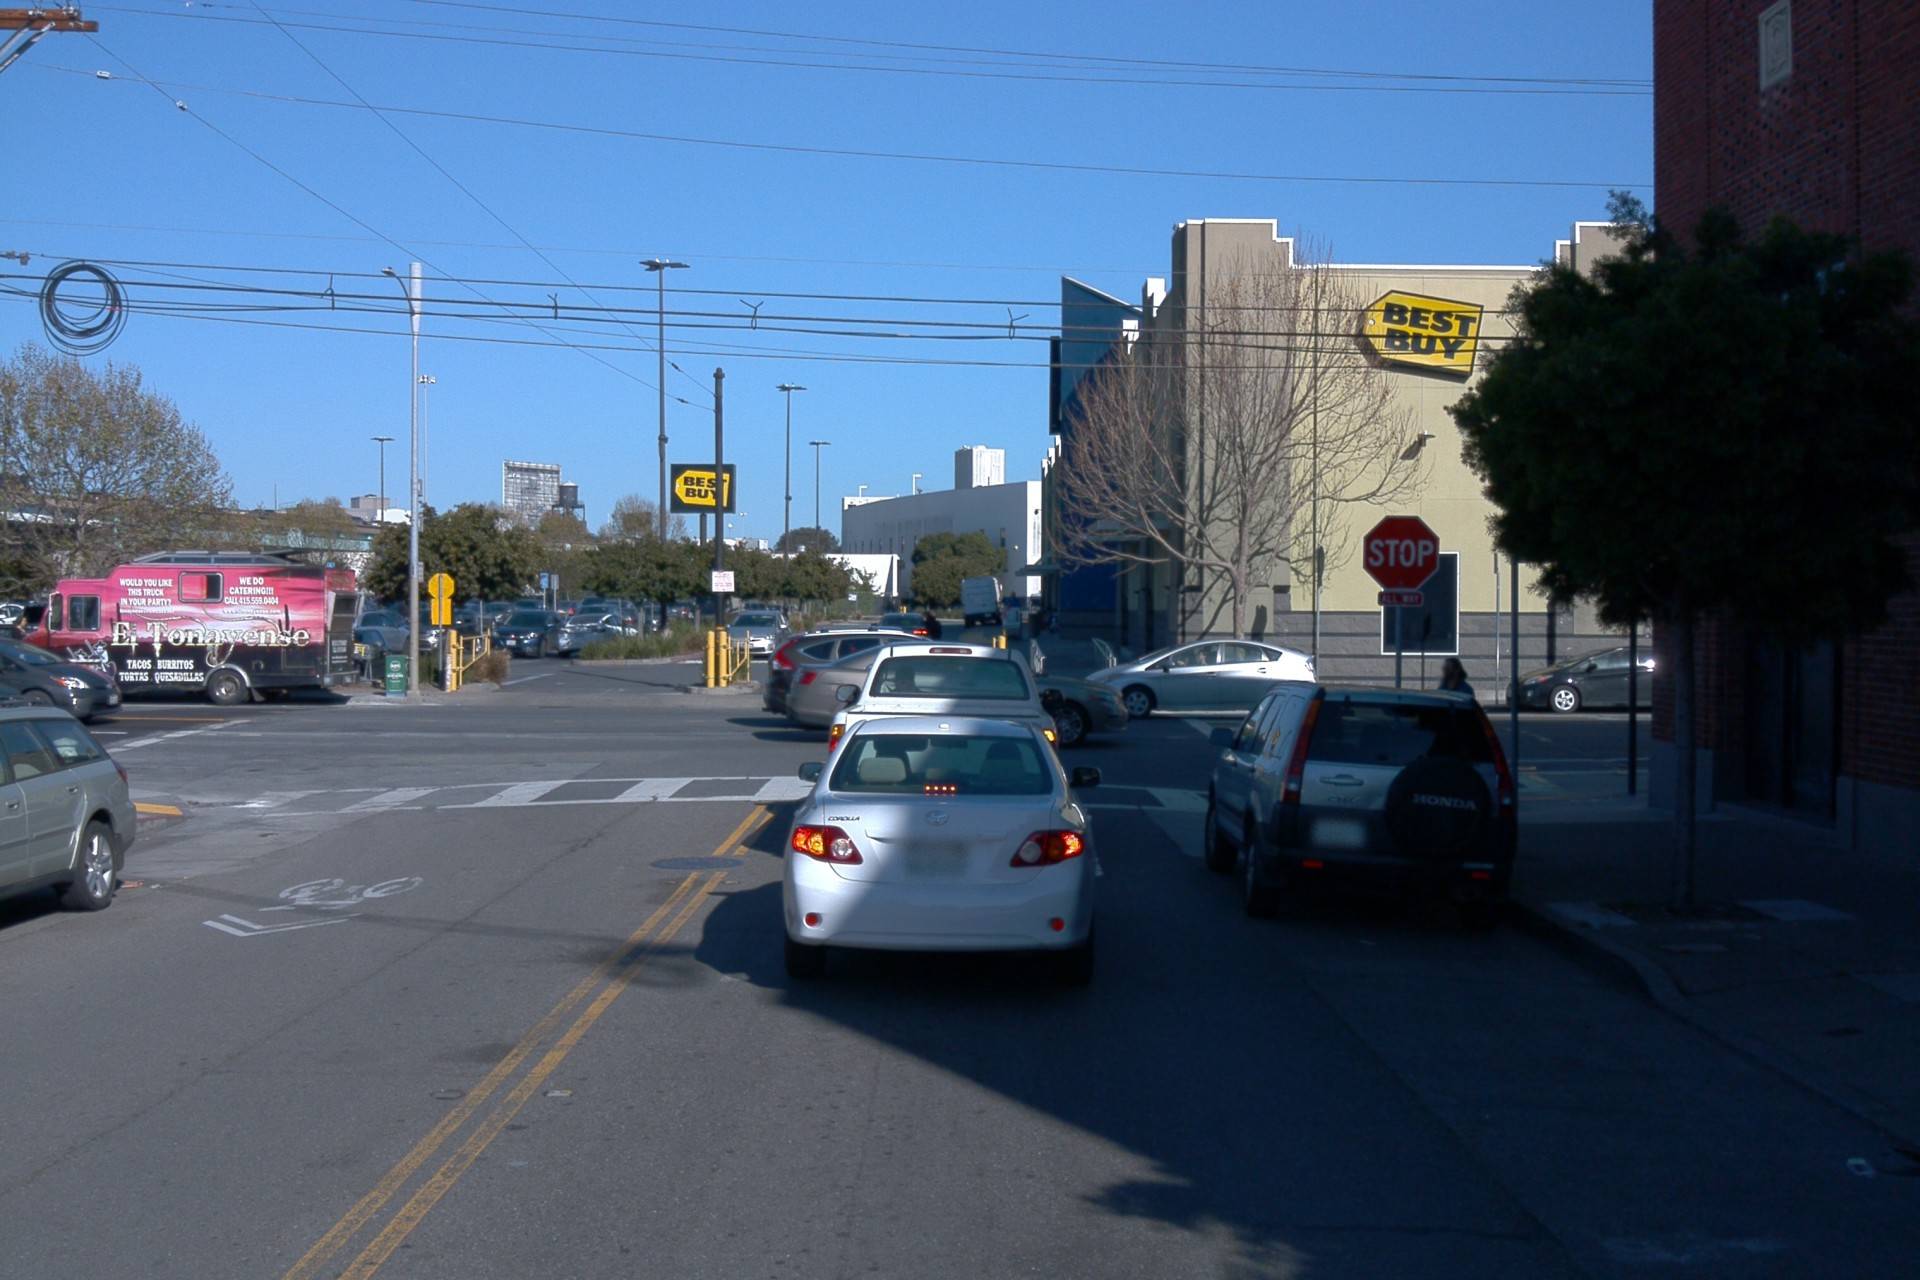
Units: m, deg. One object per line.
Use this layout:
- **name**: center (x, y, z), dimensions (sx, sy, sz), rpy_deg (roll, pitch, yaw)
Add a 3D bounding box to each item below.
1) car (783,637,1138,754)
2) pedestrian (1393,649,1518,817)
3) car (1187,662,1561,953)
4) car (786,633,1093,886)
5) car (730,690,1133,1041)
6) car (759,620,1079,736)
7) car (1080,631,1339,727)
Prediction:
- **car**: center (-0.021, 0.815, 31.123), dimensions (5.171, 1.600, 2.059), rpy_deg (1, 1, -2)
- **pedestrian**: center (5.489, 1.015, 22.811), dimensions (1.038, 1.802, 0.873), rpy_deg (1, 1, -11)
- **car**: center (2.915, 1.110, 15.474), dimensions (2.017, 1.730, 4.285), rpy_deg (1, 1, 1)
- **car**: center (-0.114, 0.936, 19.013), dimensions (2.386, 1.880, 5.557), rpy_deg (1, 1, 1)
- **car**: center (-0.089, 1.215, 12.827), dimensions (2.045, 1.580, 4.504), rpy_deg (1, 1, 2)
- **car**: center (-0.721, 0.616, 34.344), dimensions (5.153, 1.790, 2.032), rpy_deg (1, 1, -4)
- **car**: center (4.570, 0.708, 38.107), dimensions (4.379, 1.630, 2.086), rpy_deg (1, 1, -6)
